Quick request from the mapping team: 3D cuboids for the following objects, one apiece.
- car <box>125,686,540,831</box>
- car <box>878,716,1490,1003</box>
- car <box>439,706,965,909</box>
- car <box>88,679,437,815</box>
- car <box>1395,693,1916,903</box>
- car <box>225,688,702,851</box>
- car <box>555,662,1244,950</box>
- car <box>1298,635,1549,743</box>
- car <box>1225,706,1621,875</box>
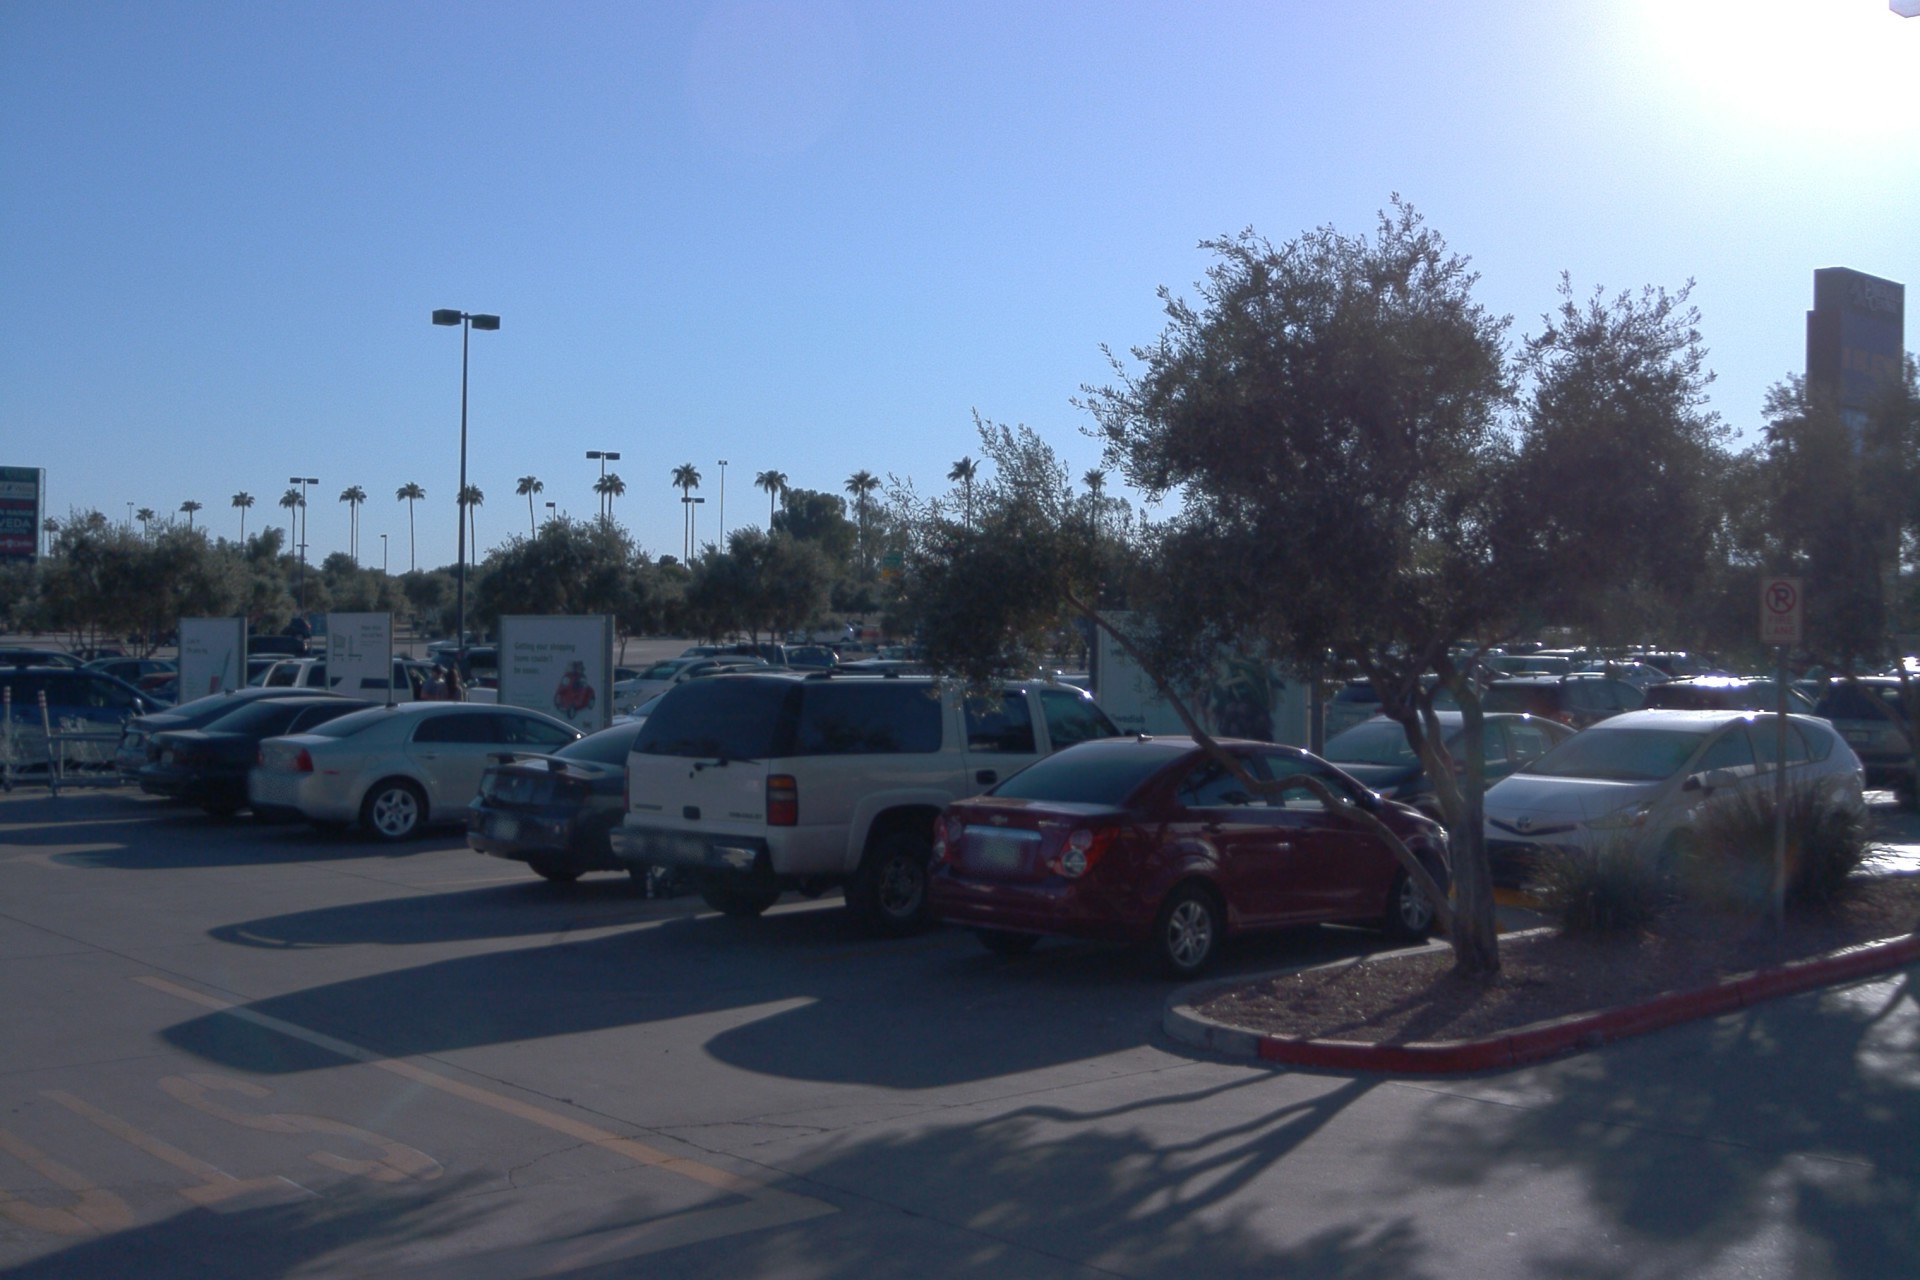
[{"bbox_3d":[-7.404,1.332,24.620,4.342,1.510,1.857,1,0,-42],"label":"car"},{"bbox_3d":[1.678,1.382,14.423,4.294,1.580,1.862,1,0,-42],"label":"car"},{"bbox_3d":[-2.204,1.387,18.450,4.346,1.490,1.909,1,0,-42],"label":"car"},{"bbox_3d":[-9.060,1.332,26.985,3.883,1.600,1.876,1,0,-42],"label":"car"},{"bbox_3d":[6.187,1.258,18.087,4.817,1.500,2.237,1,0,-42],"label":"car"},{"bbox_3d":[-5.414,1.348,22.895,4.773,1.560,1.931,1,0,-40],"label":"car"},{"bbox_3d":[-0.304,1.128,16.287,5.317,1.880,2.178,1,0,-43],"label":"car"},{"bbox_3d":[8.006,0.808,35.499,4.286,1.740,1.983,1,0,-39],"label":"car"},{"bbox_3d":[4.639,1.411,20.435,3.896,1.400,1.920,1,0,-42],"label":"car"}]
